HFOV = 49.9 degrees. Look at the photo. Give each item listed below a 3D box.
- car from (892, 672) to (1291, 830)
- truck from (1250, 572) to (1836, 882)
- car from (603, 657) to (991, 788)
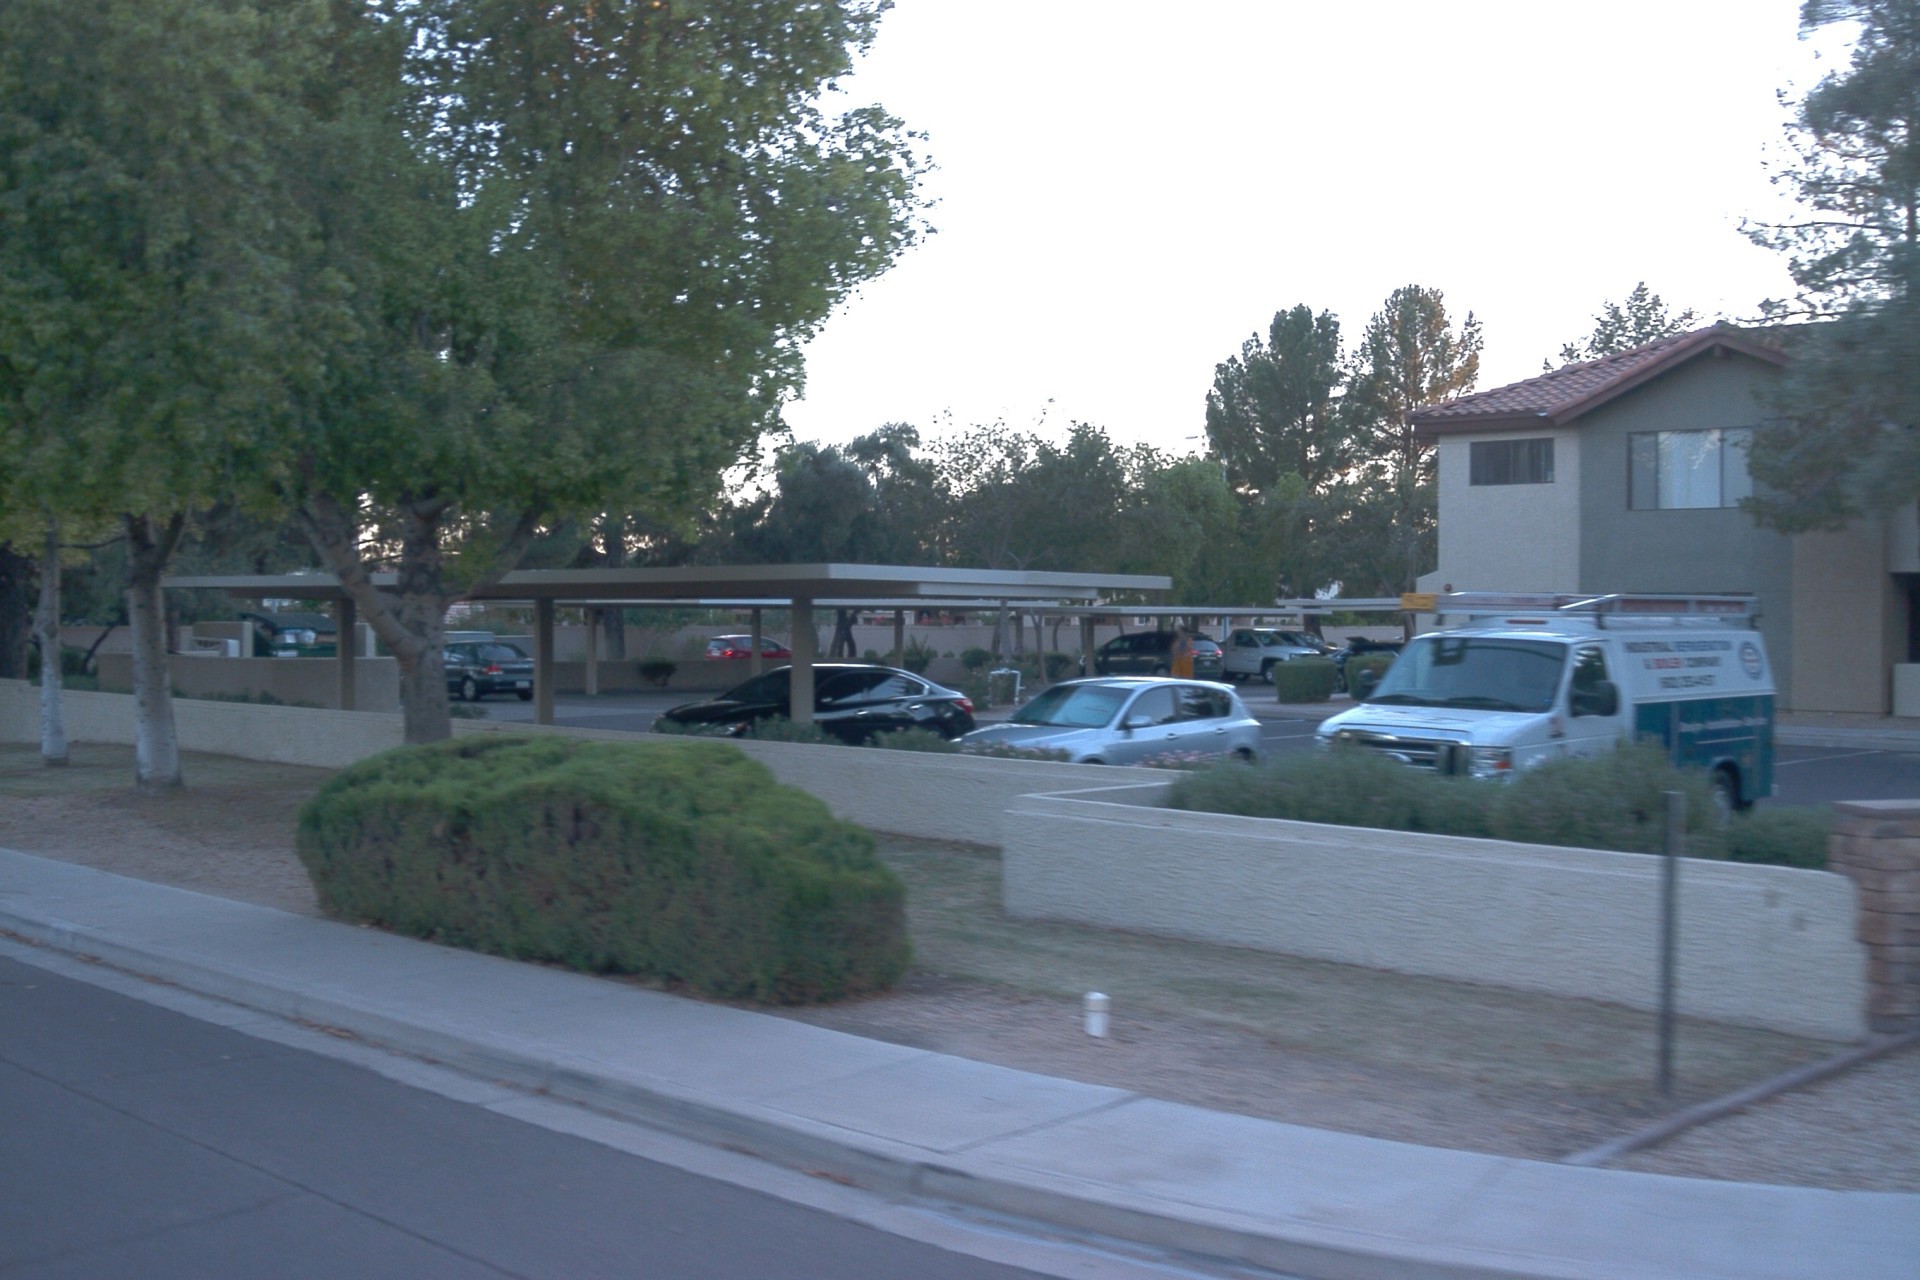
[{"bbox_3d":[1.523,1.129,22.603,1.971,1.520,4.331,1,0,45],"label":"car"},{"bbox_3d":[5.685,0.713,19.486,2.721,2.450,6.153,1,0,44],"label":"truck"},{"bbox_3d":[-2.044,1.011,26.975,2.115,1.529,4.818,1,0,45],"label":"car"}]
